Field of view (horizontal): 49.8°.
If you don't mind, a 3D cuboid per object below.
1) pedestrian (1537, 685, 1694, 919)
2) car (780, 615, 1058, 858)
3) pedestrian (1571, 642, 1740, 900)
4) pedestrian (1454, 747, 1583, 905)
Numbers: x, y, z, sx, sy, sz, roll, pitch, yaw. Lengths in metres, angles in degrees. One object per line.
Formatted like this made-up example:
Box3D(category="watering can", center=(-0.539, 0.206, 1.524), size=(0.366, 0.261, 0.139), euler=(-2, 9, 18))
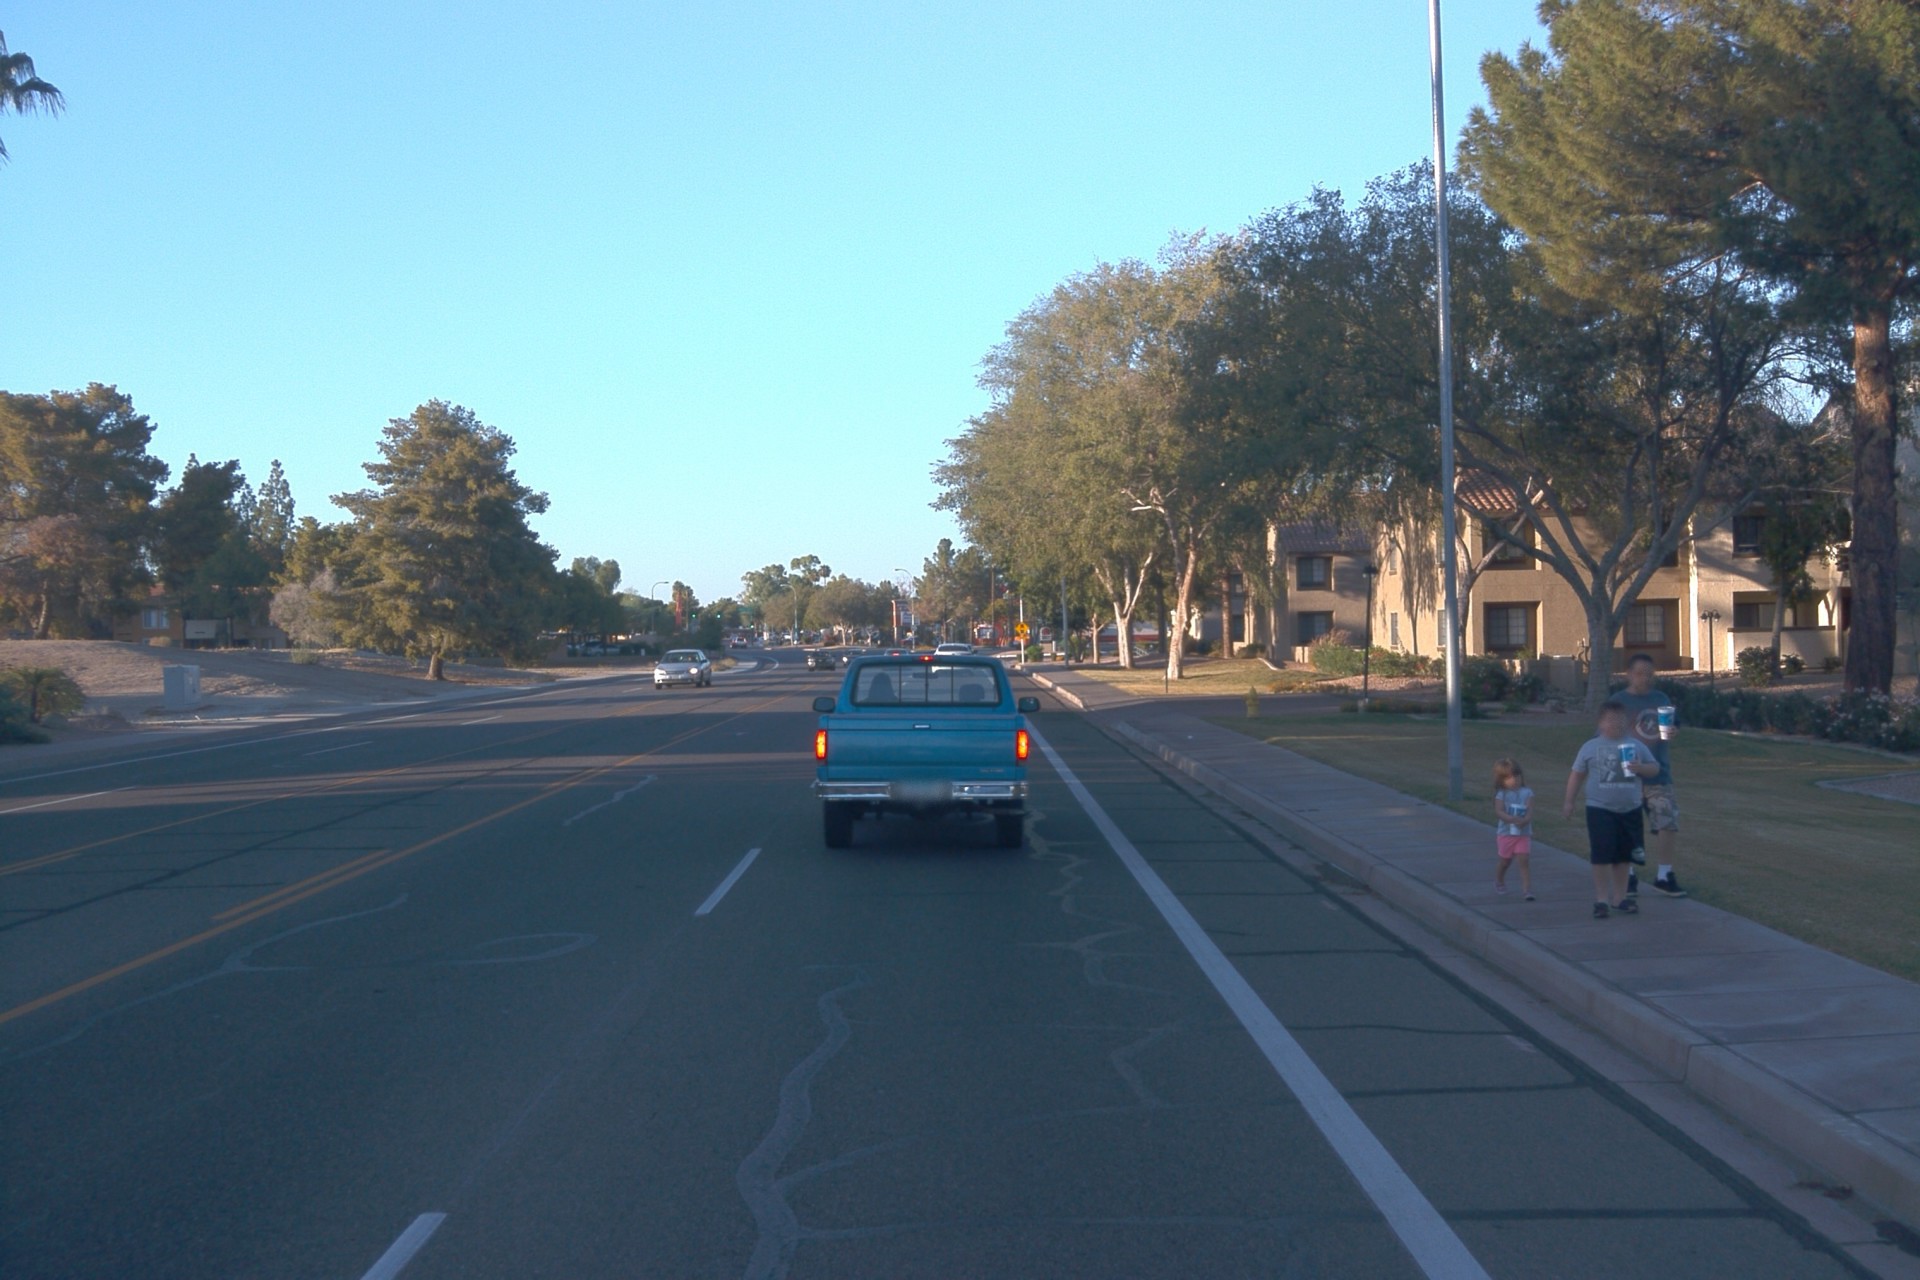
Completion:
Box3D(category="pedestrian", center=(4.287, 1.036, 13.582), size=(0.750, 1.460, 0.905), euler=(0, 0, 1))
Box3D(category="car", center=(-0.346, 0.862, 21.057), size=(2.459, 2.150, 5.428), euler=(0, 0, 0))
Box3D(category="pedestrian", center=(4.778, 0.878, 14.270), size=(0.841, 1.720, 0.834), euler=(0, 0, -4))
Box3D(category="pedestrian", center=(3.920, 1.295, 14.580), size=(0.653, 1.040, 0.817), euler=(0, 0, -3))
